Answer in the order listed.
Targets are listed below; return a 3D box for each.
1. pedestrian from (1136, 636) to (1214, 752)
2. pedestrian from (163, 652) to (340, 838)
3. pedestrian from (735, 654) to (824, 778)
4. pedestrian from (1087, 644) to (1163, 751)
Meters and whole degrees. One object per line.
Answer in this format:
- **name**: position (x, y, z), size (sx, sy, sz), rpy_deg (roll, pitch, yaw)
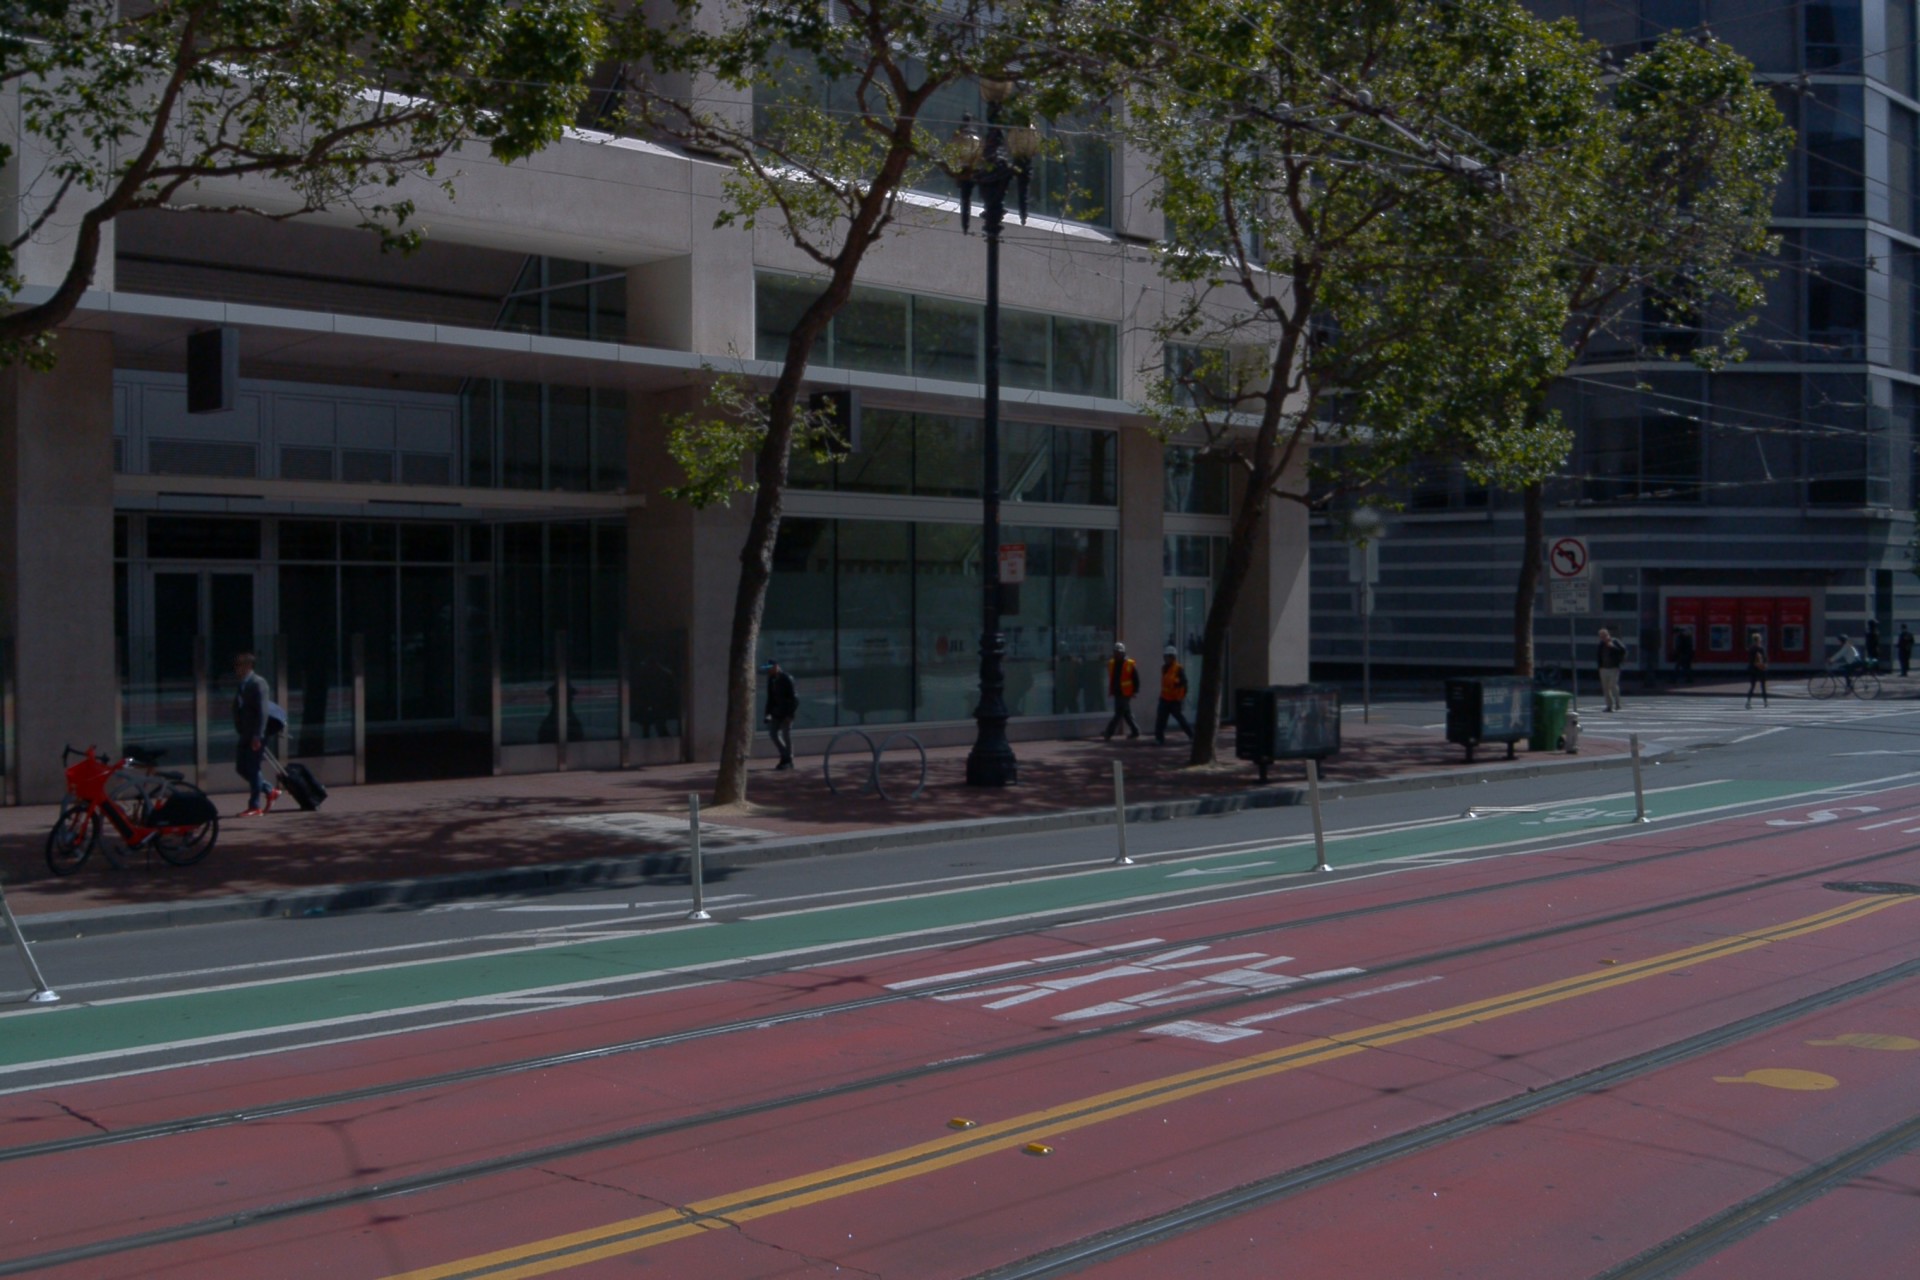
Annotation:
- **pedestrian**: position (3.644, 0.895, 35.040), size (1.042, 1.910, 0.846), rpy_deg (-1, 1, -44)
- **pedestrian**: position (-7.831, 1.123, 22.851), size (0.976, 1.950, 1.558), rpy_deg (1, 1, 42)
- **pedestrian**: position (-2.584, 1.068, 29.543), size (1.011, 1.710, 0.760), rpy_deg (-1, 1, -42)
- **pedestrian**: position (2.872, 0.977, 35.928), size (0.994, 1.810, 0.855), rpy_deg (-1, 1, -35)
